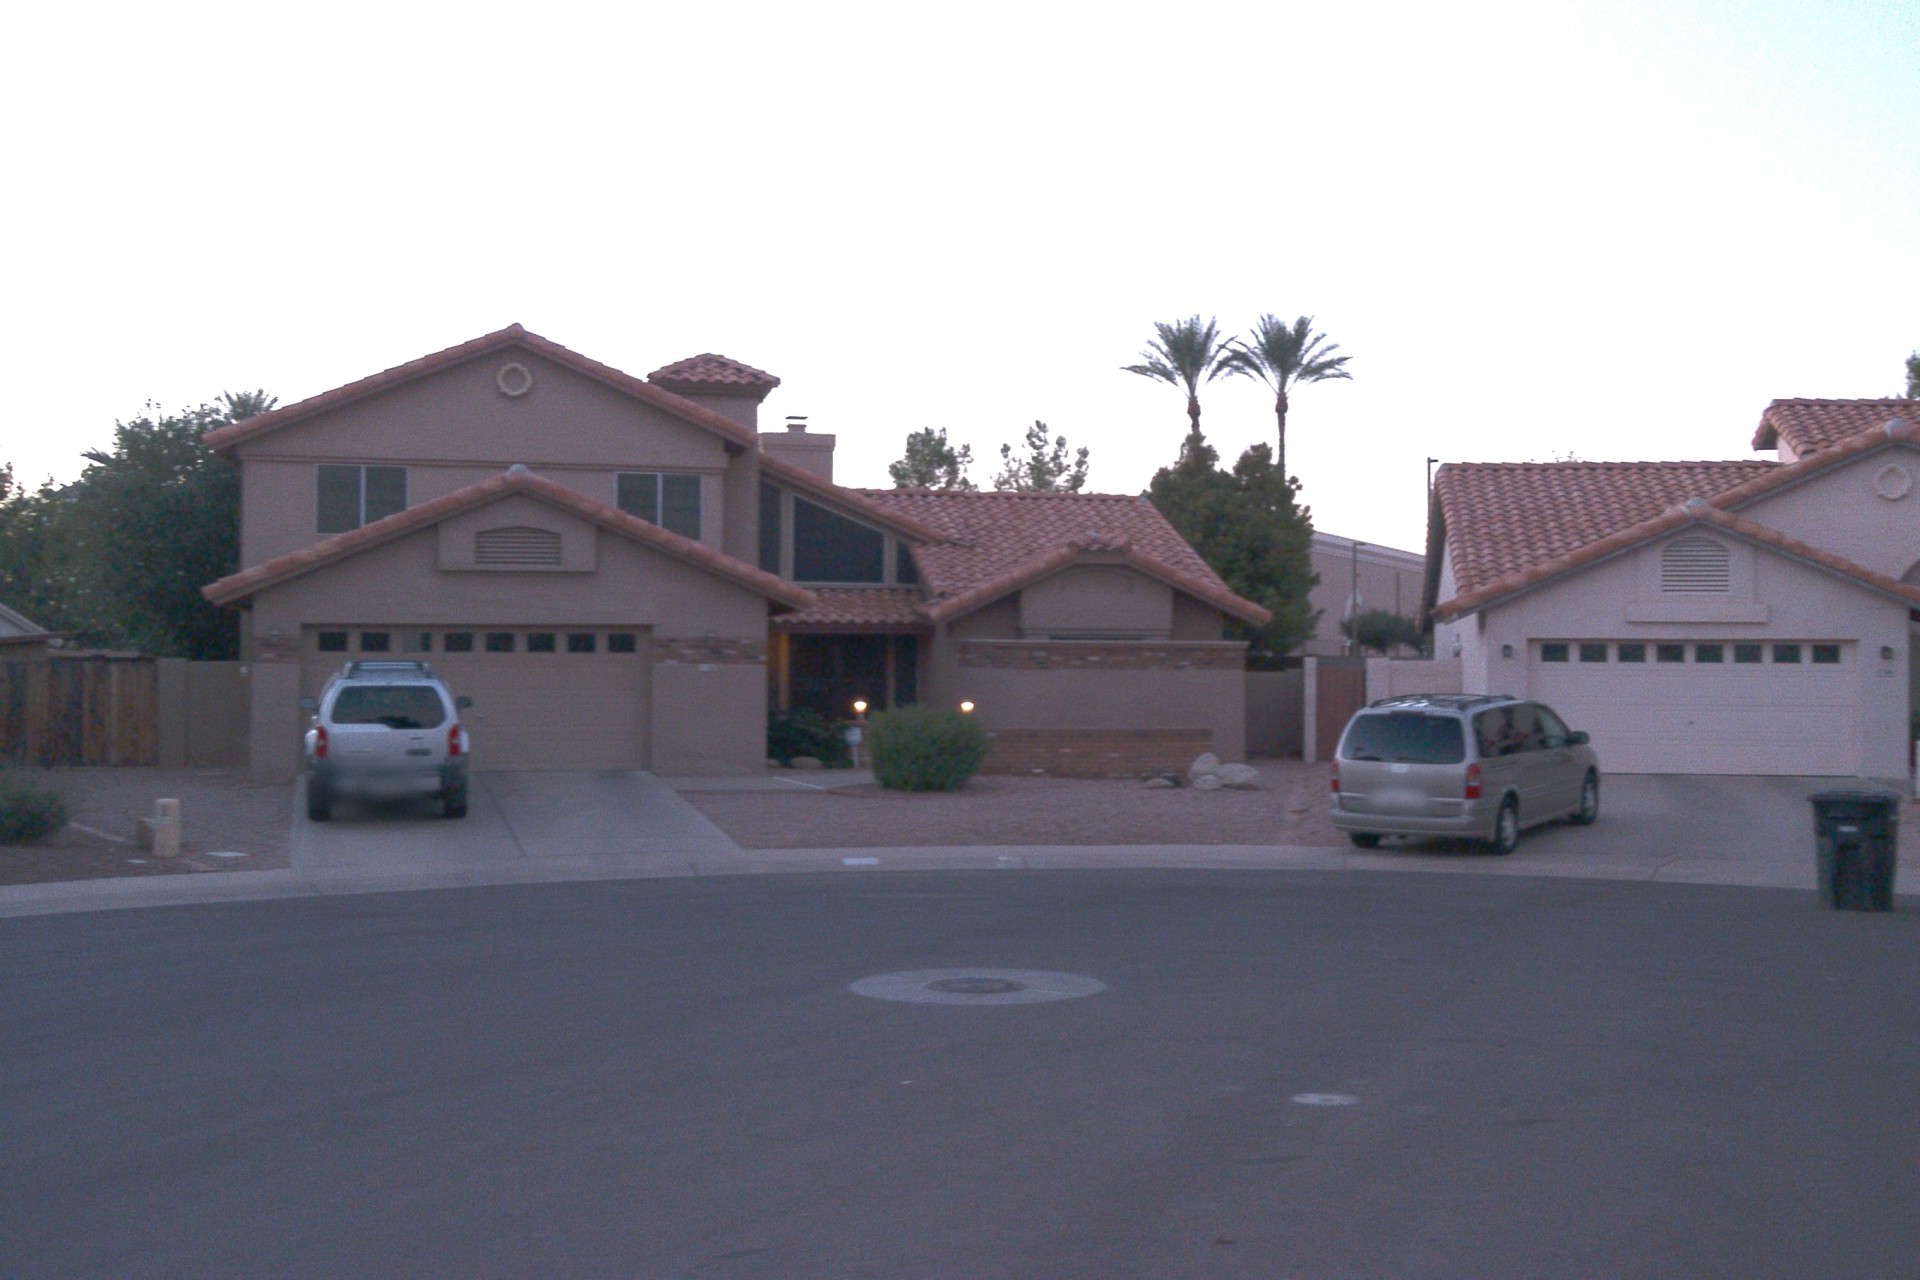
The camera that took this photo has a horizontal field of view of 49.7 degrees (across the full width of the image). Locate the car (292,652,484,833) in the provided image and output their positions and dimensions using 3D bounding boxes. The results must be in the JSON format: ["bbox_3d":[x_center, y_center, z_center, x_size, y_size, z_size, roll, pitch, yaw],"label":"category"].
[{"bbox_3d":[-7.240,1.210,26.402,2.119,2.070,4.657,1,-1,-15],"label":"car"}]

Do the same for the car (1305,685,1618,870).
[{"bbox_3d":[6.152,1.535,24.967,2.067,1.940,5.040,1,-1,33],"label":"car"}]
